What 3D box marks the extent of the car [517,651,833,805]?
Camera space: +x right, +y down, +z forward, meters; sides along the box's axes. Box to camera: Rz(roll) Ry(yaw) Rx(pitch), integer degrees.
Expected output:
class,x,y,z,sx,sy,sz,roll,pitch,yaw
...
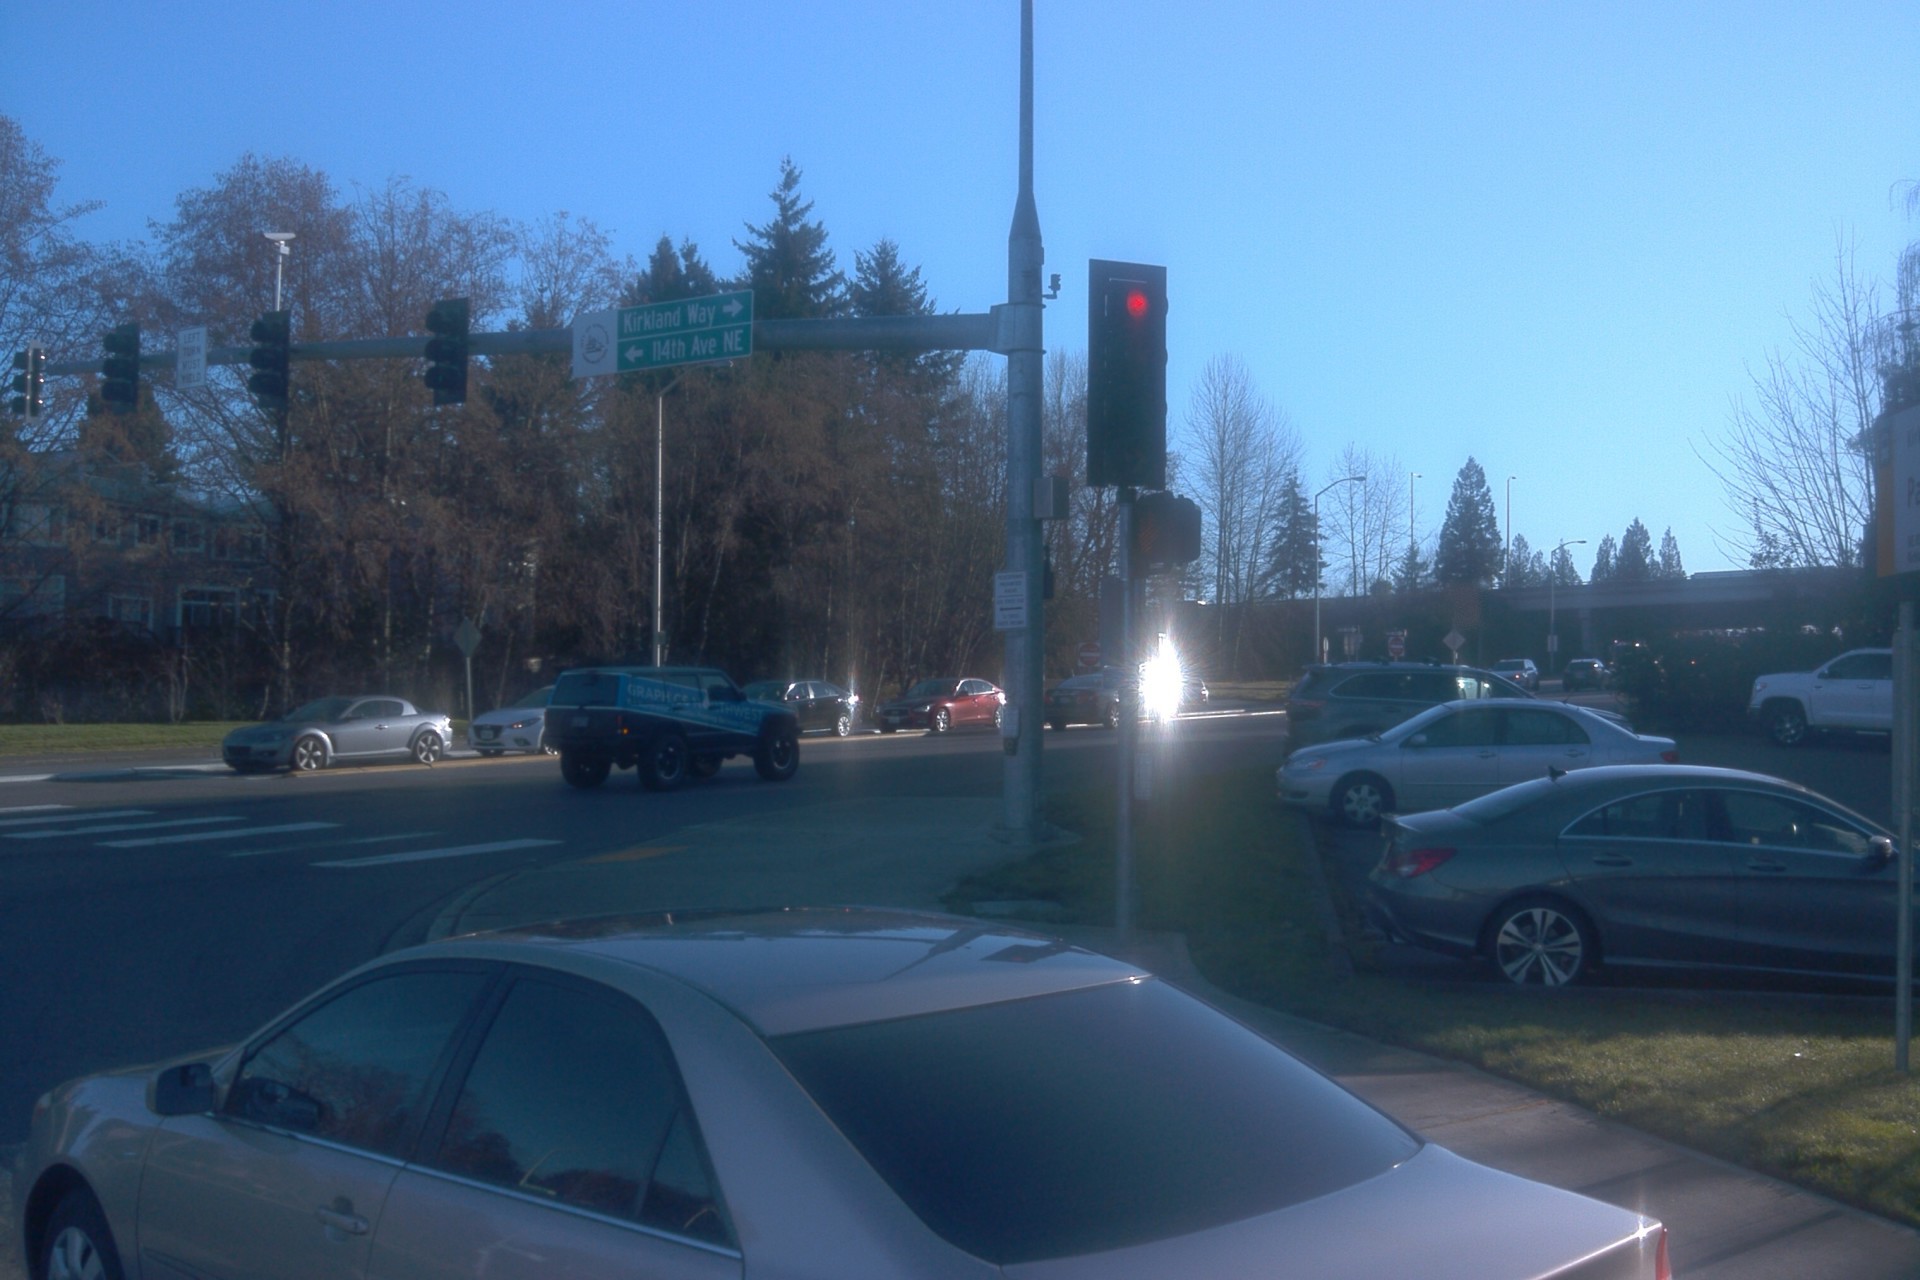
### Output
class,x,y,z,sx,sy,sz,roll,pitch,yaw
car,-4.207,1.236,30.935,2.045,2.070,4.718,1,1,35

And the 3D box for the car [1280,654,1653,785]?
class,x,y,z,sx,sy,sz,roll,pitch,yaw
car,7.007,1.078,28.821,4.869,1.700,2.043,0,0,7

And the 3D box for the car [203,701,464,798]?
class,x,y,z,sx,sy,sz,roll,pitch,yaw
car,-11.041,1.890,36.352,1.817,1.450,4.298,1,1,32

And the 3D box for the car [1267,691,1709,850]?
class,x,y,z,sx,sy,sz,roll,pitch,yaw
car,5.908,1.443,23.459,4.657,1.620,2.051,0,0,7
